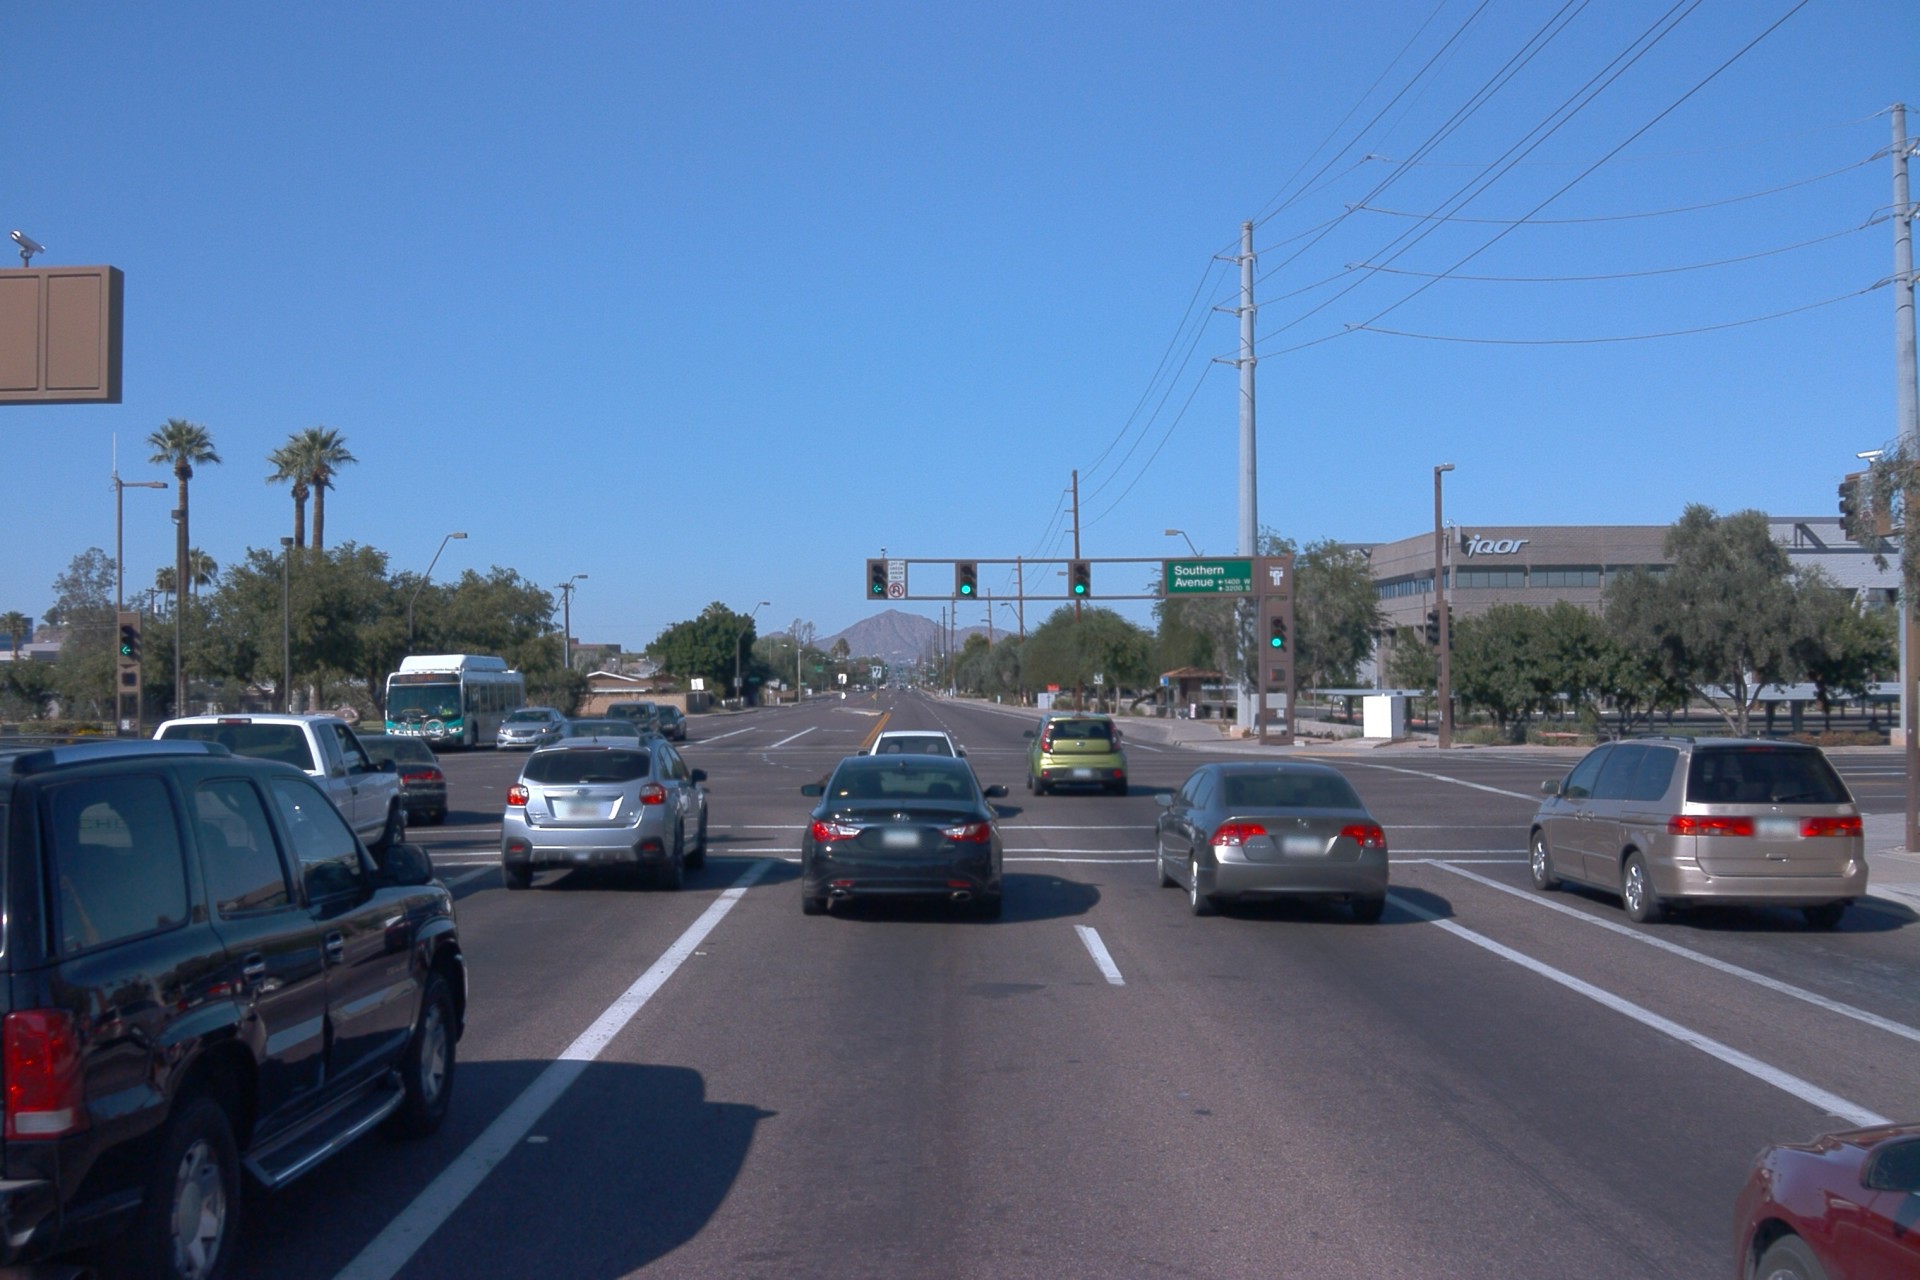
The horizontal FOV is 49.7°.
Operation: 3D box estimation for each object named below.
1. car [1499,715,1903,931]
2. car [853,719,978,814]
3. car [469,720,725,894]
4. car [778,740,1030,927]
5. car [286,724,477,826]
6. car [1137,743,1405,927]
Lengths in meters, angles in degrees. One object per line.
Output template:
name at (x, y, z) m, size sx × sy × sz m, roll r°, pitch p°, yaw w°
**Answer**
car at (7.173, 1.700, 20.720) m, size 2.223 × 1.810 × 4.942 m, roll 0°, pitch -1°, yaw -1°
car at (-0.781, 2.104, 35.318) m, size 1.969 × 1.400 × 5.049 m, roll 0°, pitch -1°, yaw -2°
car at (-3.819, 1.726, 22.656) m, size 2.077 × 1.610 × 4.768 m, roll 0°, pitch -1°, yaw -2°
car at (-0.531, 1.784, 20.264) m, size 2.156 × 1.470 × 4.806 m, roll 0°, pitch -1°, yaw -1°
car at (-9.387, 2.098, 33.307) m, size 2.078 × 1.400 × 5.007 m, roll 1°, pitch -1°, yaw -26°
car at (2.963, 1.847, 20.719) m, size 1.907 × 1.500 × 4.574 m, roll 0°, pitch -1°, yaw -1°
